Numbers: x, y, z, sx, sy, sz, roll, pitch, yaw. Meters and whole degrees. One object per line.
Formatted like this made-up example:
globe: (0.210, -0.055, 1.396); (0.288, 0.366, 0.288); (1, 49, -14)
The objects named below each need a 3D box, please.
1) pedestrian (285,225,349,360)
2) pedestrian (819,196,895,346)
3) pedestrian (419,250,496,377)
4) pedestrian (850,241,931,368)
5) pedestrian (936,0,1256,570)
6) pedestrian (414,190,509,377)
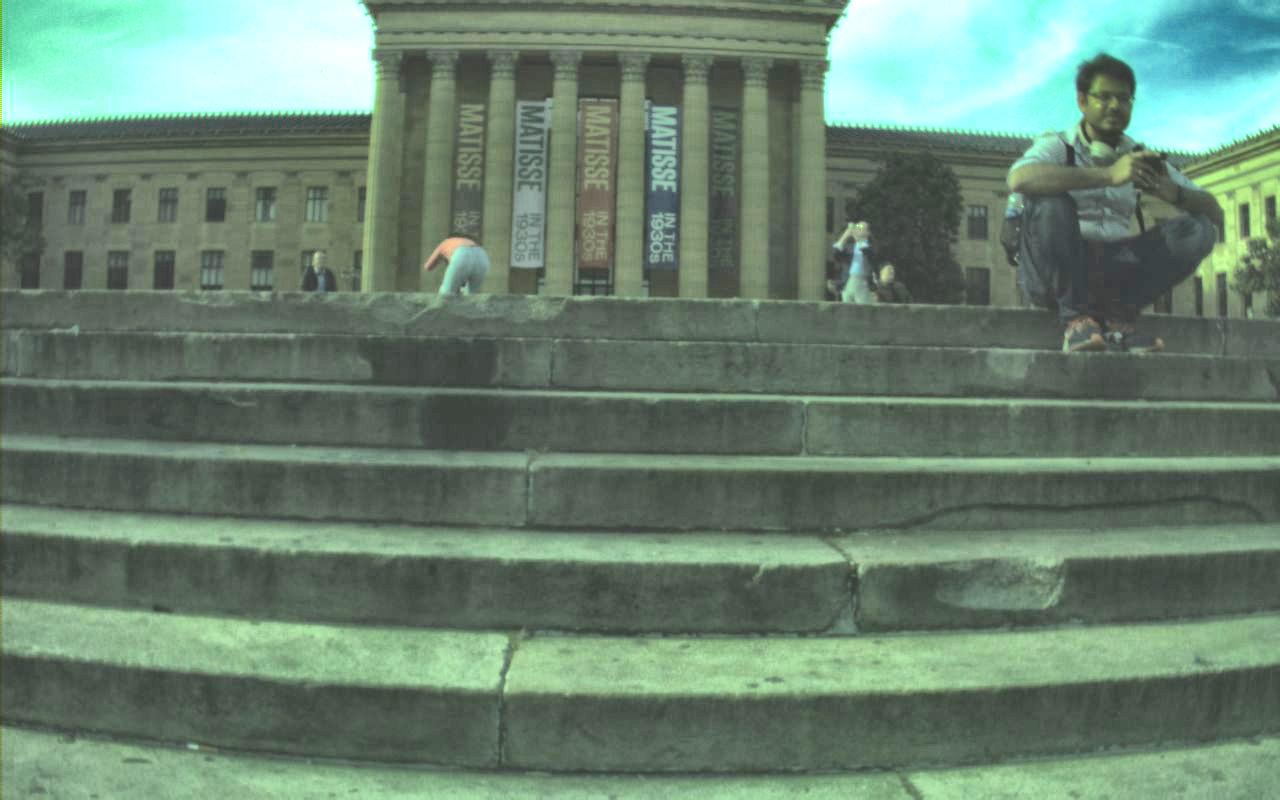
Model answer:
pedestrian: (-4.231, -1.378, 16.046); (0.770, 1.716, 0.758); (0, 0, -11)
pedestrian: (2.676, -1.558, 15.340); (0.775, 1.781, 0.772); (1, 0, 22)
pedestrian: (-2.379, -1.093, 16.215); (0.836, 1.589, 0.865); (0, 0, -19)
pedestrian: (3.326, -1.242, 16.542); (0.837, 1.630, 0.840); (0, 0, -11)
pedestrian: (1.470, -0.392, 3.709); (0.803, 1.694, 0.757); (0, 0, -41)
pedestrian: (-1.682, -1.058, 11.656); (0.836, 1.679, 0.877); (0, 0, -11)
